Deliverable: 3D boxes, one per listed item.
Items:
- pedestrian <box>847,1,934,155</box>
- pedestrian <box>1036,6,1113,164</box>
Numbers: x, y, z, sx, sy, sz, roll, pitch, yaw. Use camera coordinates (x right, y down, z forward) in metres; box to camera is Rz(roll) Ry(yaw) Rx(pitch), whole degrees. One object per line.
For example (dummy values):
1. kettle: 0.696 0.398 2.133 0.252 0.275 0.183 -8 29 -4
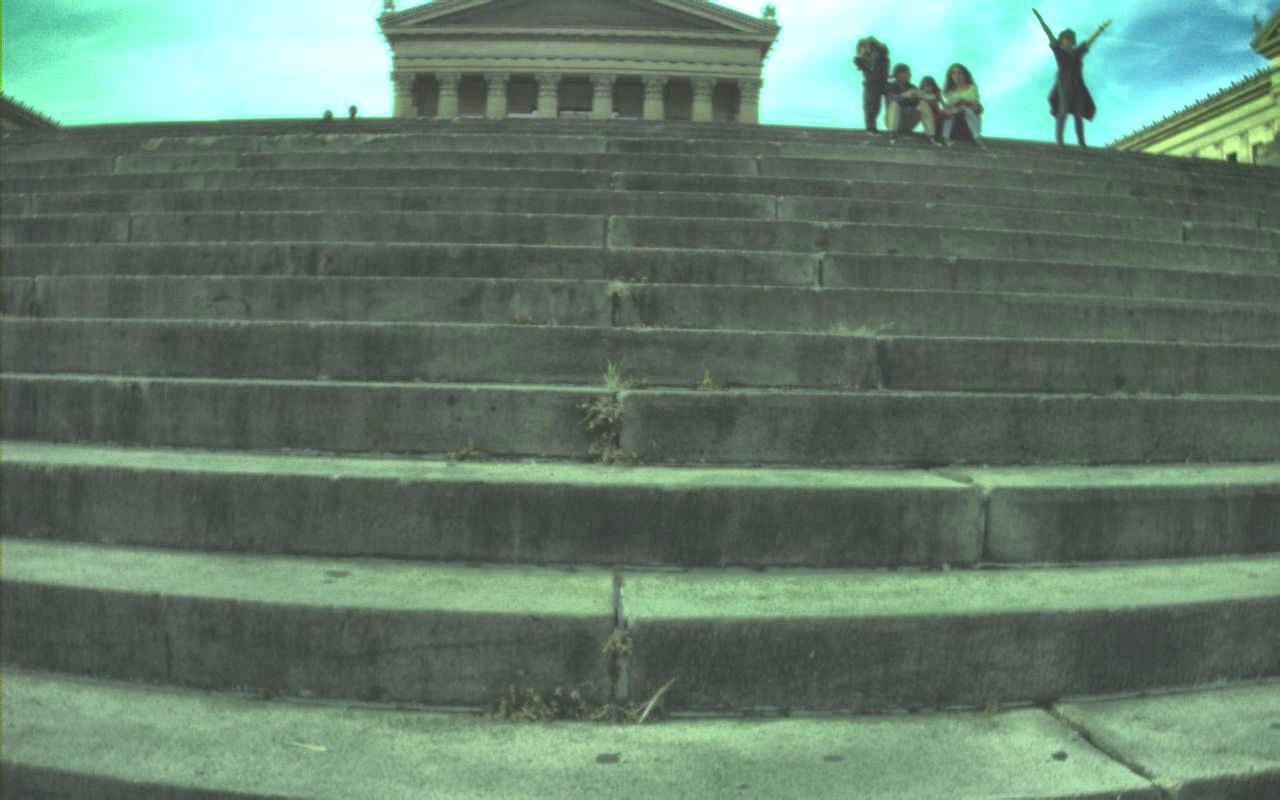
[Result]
1. pedestrian: 2.852 -3.654 13.929 0.694 1.607 0.757 0 0 -15
2. pedestrian: 5.468 -3.933 14.835 0.696 1.879 0.715 0 0 -2
